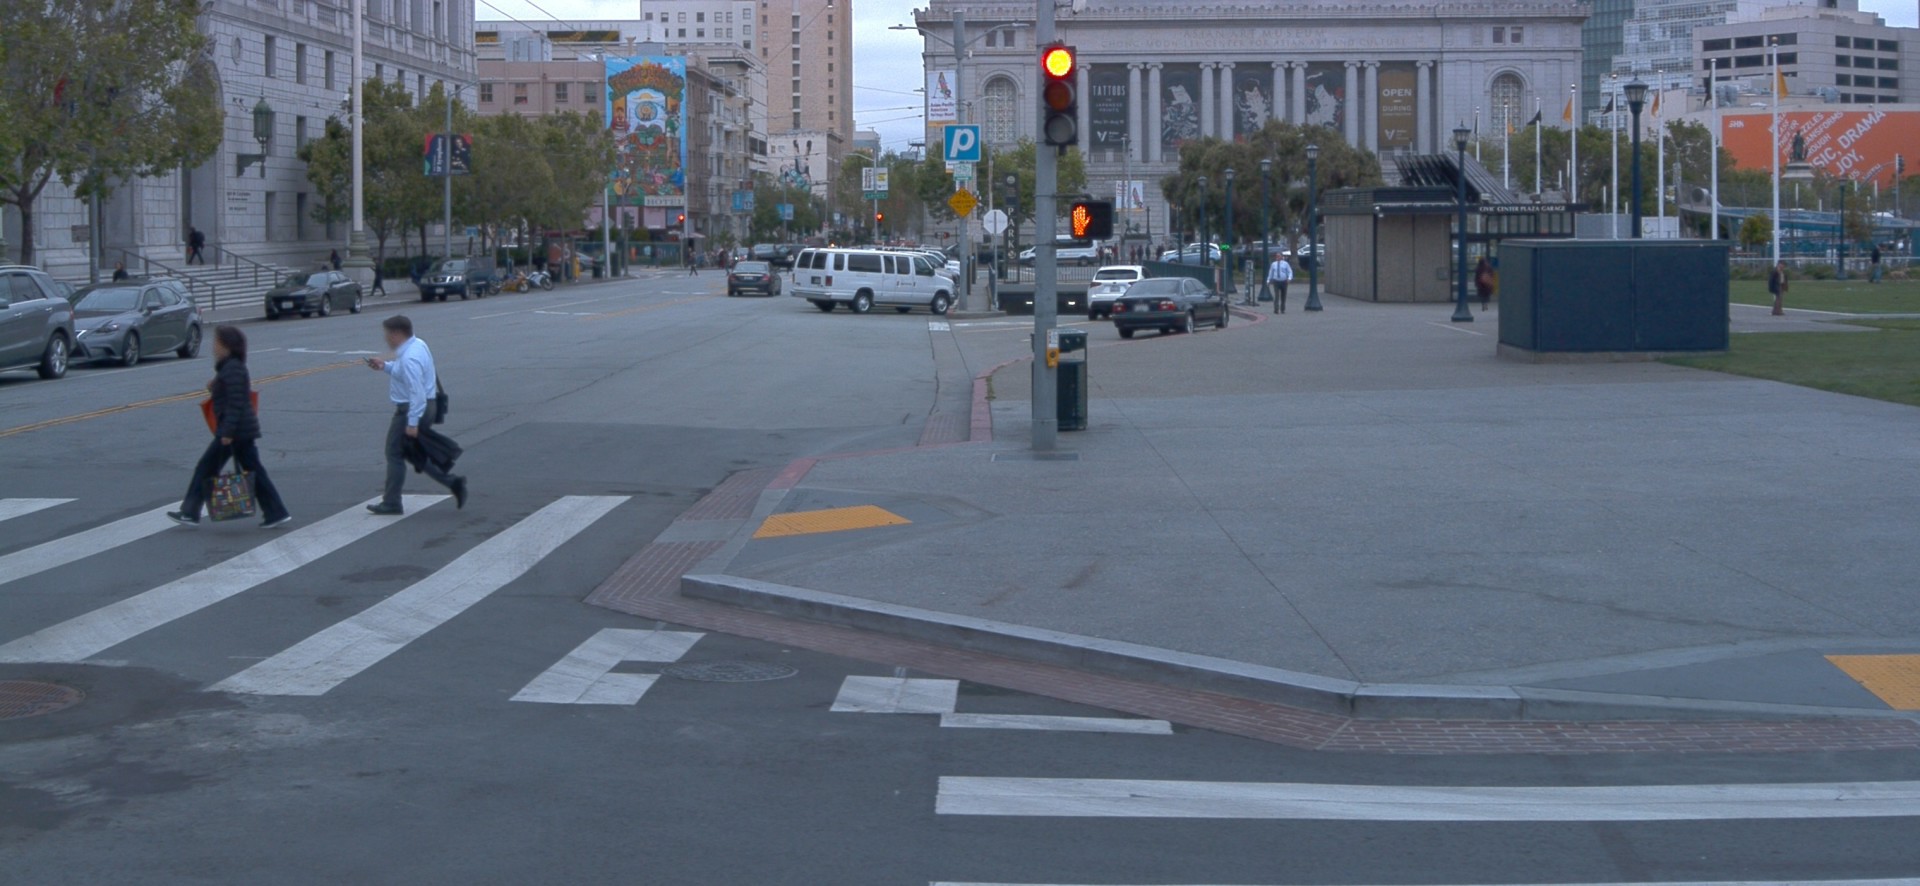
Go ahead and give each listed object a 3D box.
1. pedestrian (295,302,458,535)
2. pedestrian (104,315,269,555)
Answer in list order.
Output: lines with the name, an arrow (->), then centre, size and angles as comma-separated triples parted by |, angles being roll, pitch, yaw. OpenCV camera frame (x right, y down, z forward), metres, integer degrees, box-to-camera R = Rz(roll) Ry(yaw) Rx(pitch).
pedestrian -> -4.701, -0.233, 16.714 | 1.150, 1.761, 1.062 | -1, 3, -10
pedestrian -> -5.773, -0.094, 15.451 | 1.015, 1.651, 1.022 | -1, 3, -13
